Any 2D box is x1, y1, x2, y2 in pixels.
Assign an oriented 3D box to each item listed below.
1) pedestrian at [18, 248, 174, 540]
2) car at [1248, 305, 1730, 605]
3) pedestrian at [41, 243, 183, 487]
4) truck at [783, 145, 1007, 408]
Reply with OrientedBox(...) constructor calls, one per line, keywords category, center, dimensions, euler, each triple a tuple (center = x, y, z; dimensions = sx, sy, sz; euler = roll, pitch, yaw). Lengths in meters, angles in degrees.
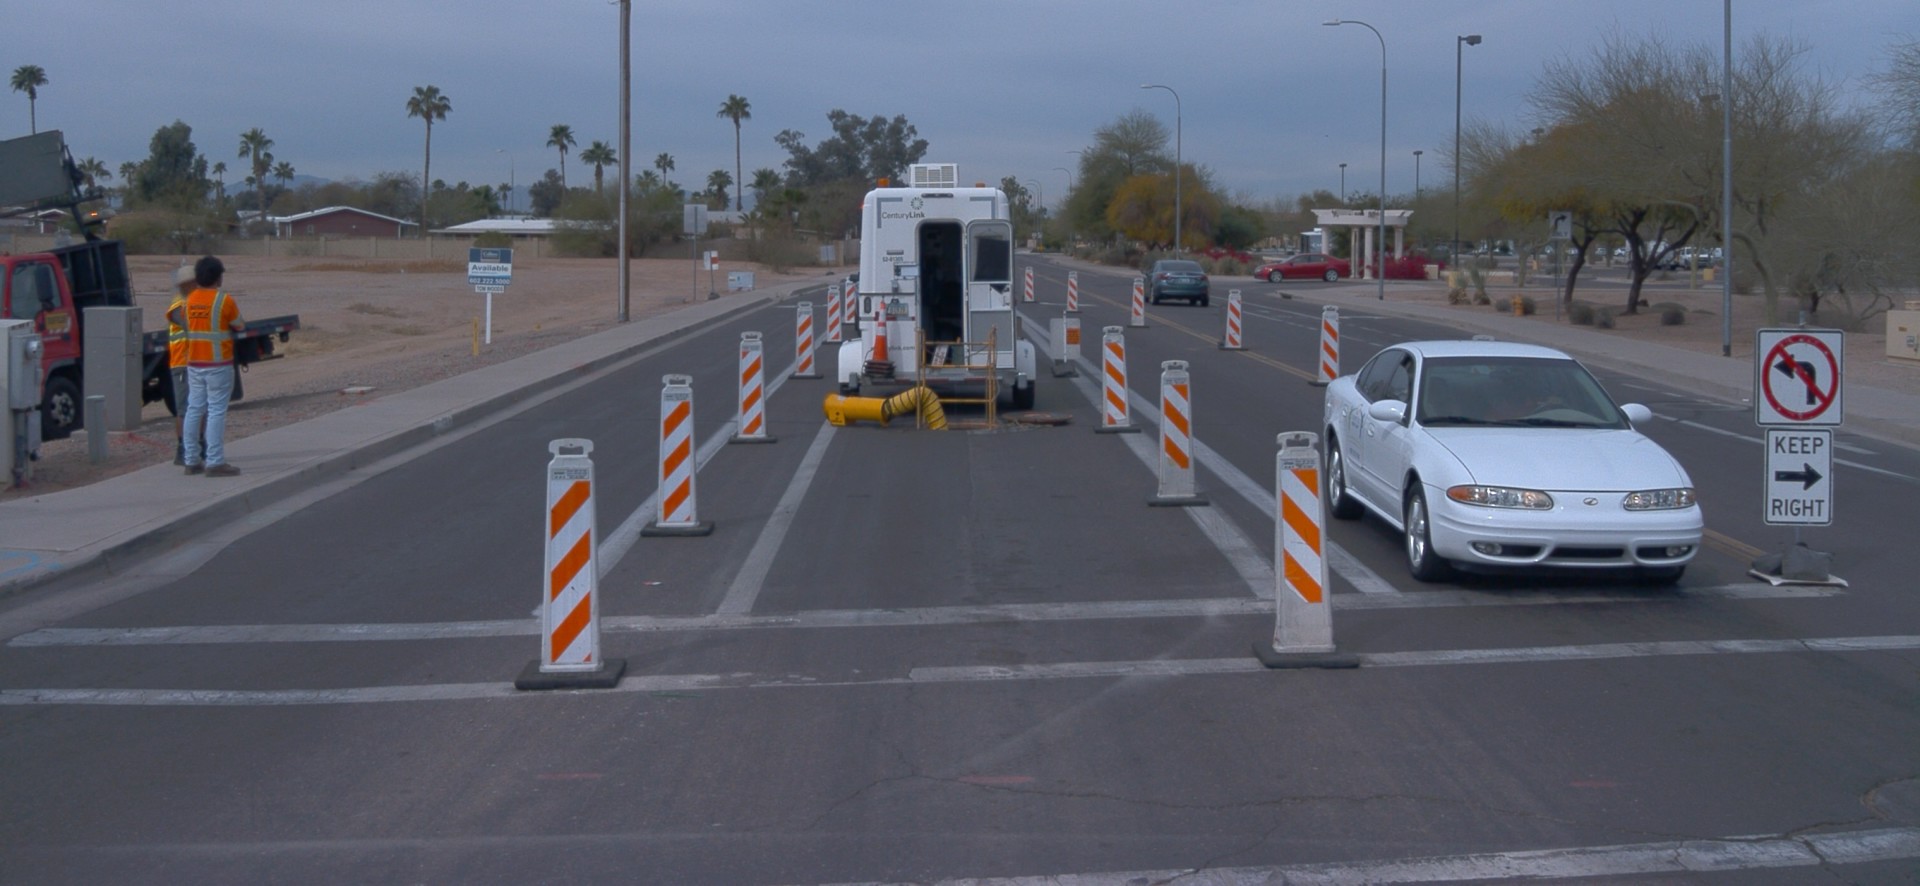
OrientedBox(category="pedestrian", center=(-7.421, -0.463, 17.706), dimensions=(0.958, 2.399, 0.872), euler=(2, 1, 41))
OrientedBox(category="car", center=(3.314, -0.091, 13.994), dimensions=(2.051, 1.494, 4.770), euler=(1, 5, 0))
OrientedBox(category="pedestrian", center=(-6.996, -0.666, 17.041), dimensions=(0.857, 1.959, 0.732), euler=(1, 1, -2))
OrientedBox(category="truck", center=(-0.801, -2.119, 25.688), dimensions=(2.511, 2.952, 4.463), euler=(1, 4, -2))
